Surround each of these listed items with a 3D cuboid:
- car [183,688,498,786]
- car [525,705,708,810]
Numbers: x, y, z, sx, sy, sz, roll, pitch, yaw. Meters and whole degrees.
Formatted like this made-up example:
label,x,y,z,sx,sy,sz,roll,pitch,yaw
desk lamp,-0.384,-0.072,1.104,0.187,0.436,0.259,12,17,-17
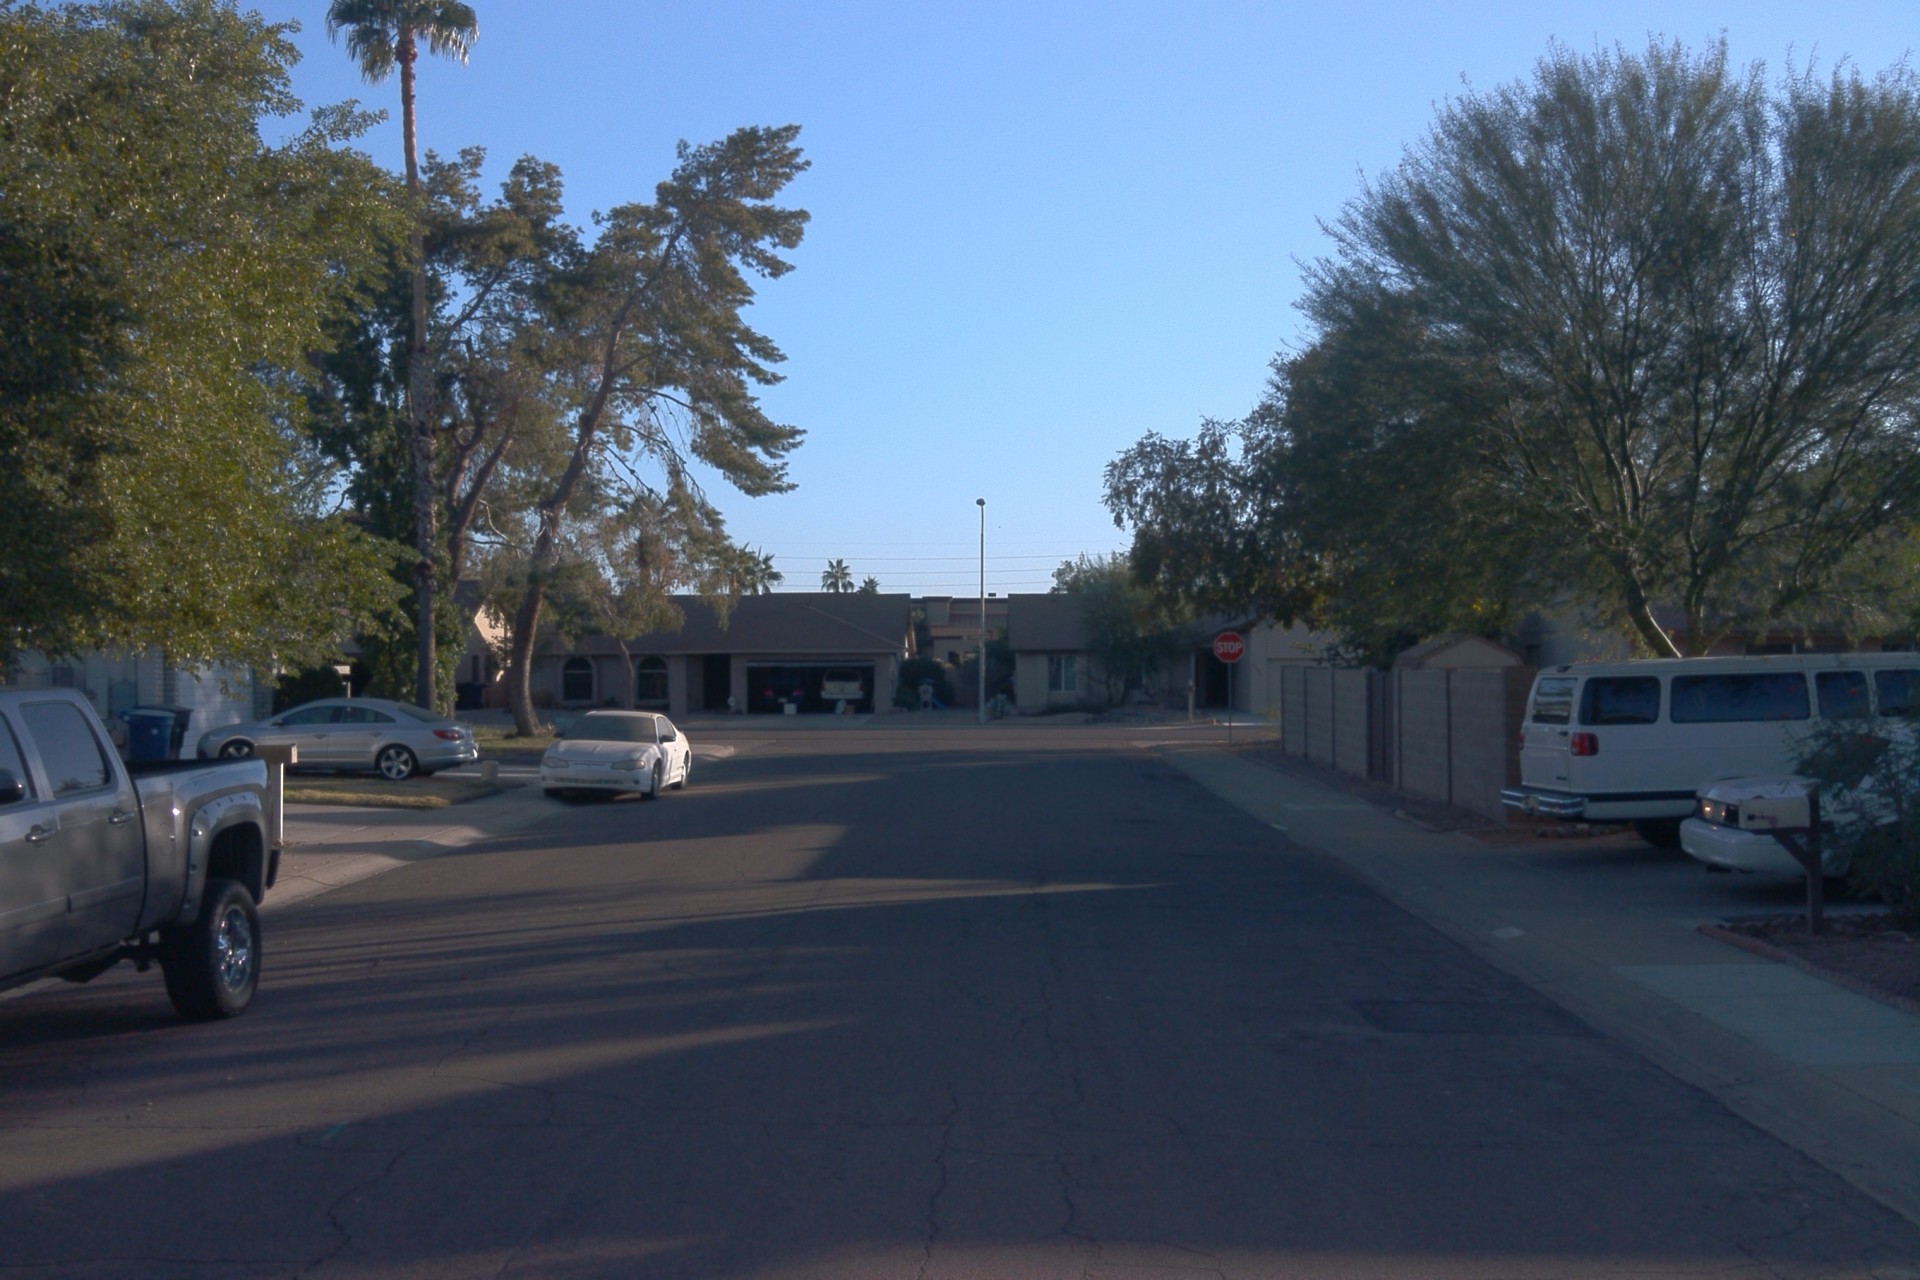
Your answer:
label,x,y,z,sx,sy,sz,roll,pitch,yaw
car,-10.835,1.680,36.503,4.861,1.590,2.201,1,-1,2
car,-5.718,1.929,35.176,2.103,1.560,5.052,1,-1,2
